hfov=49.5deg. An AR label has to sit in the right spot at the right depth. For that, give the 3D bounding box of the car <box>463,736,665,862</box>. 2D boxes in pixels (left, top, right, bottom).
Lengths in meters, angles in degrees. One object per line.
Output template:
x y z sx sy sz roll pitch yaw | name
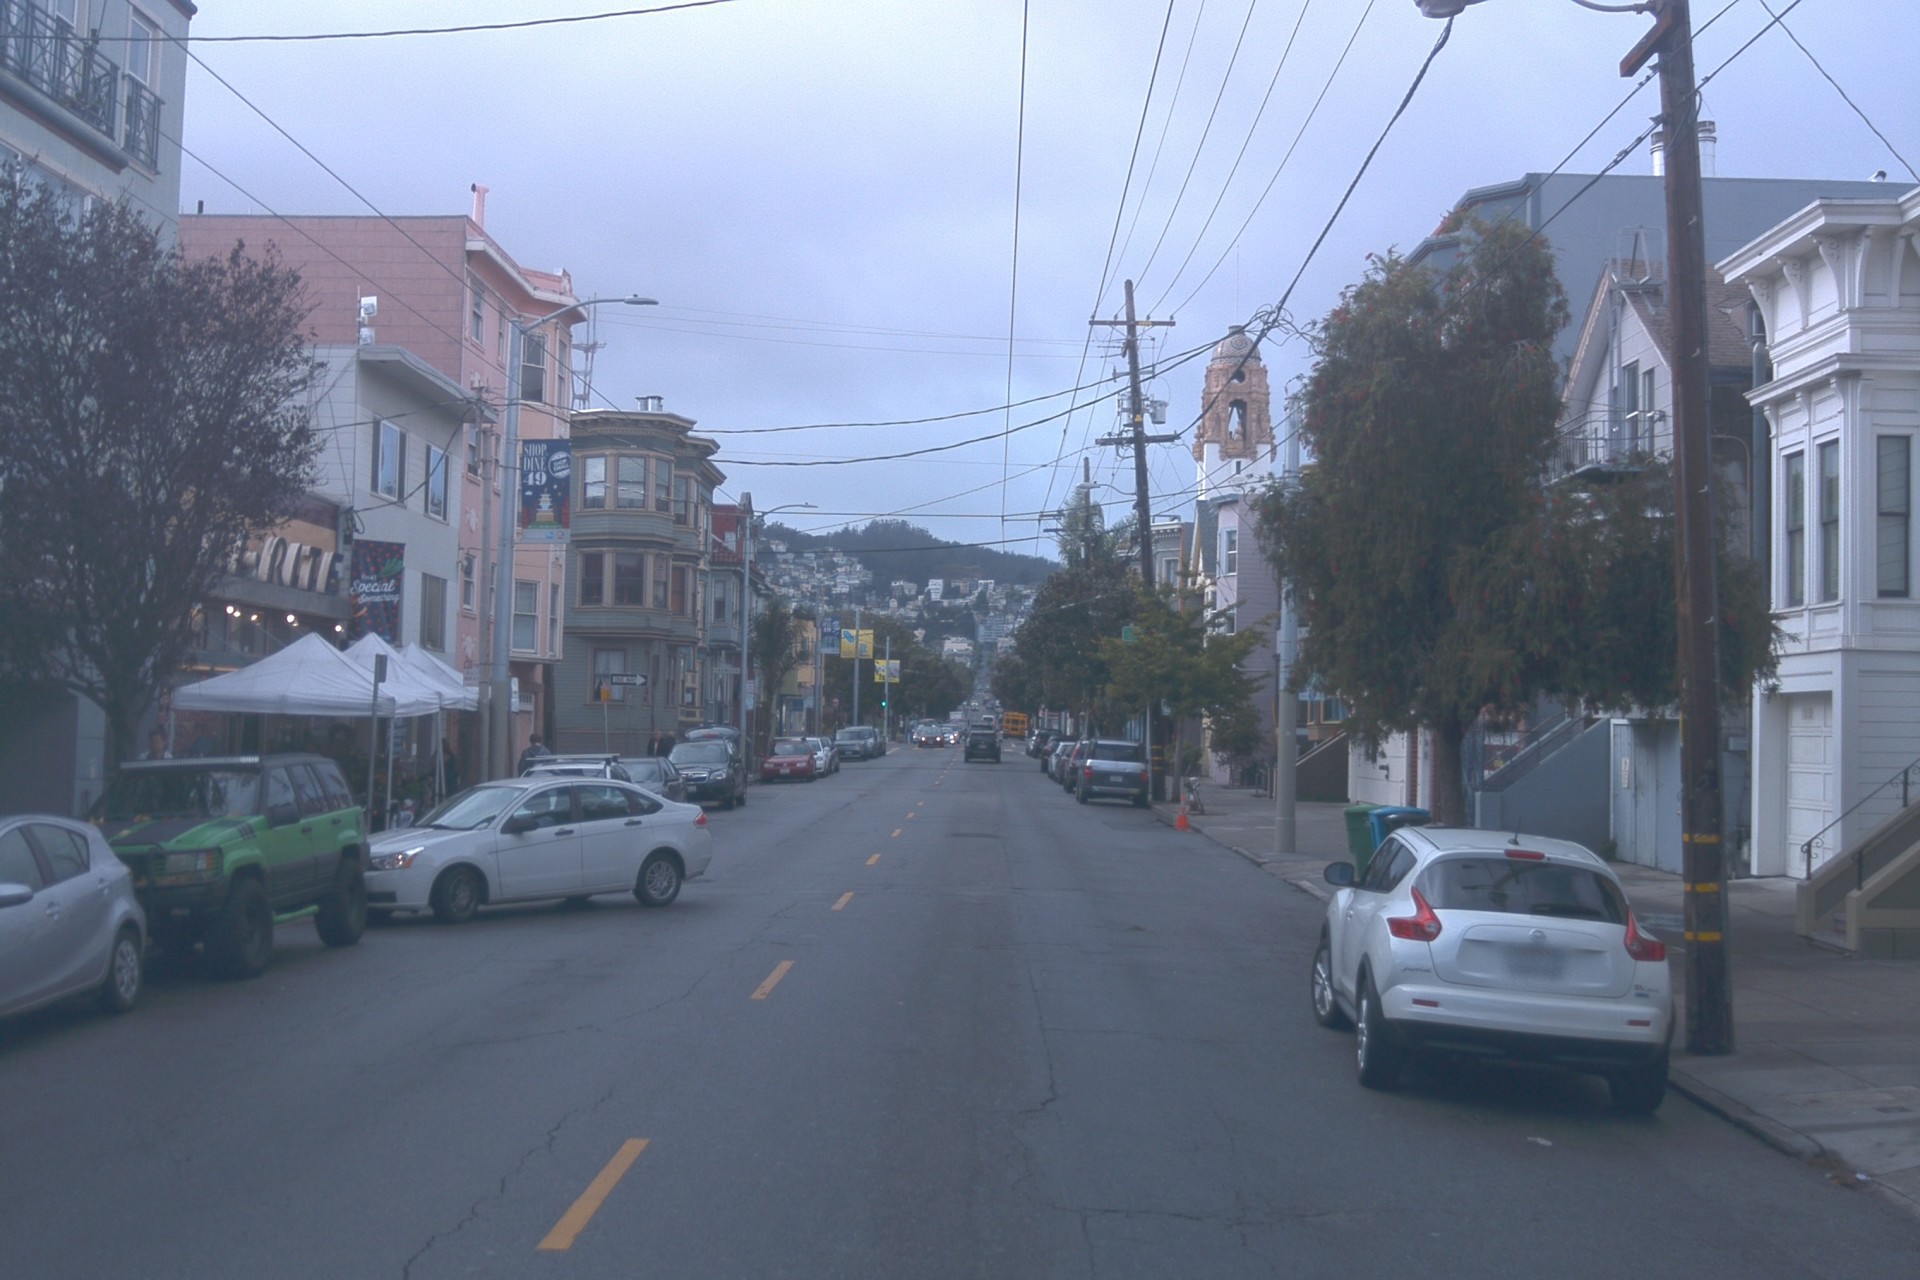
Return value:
-6.069 2.408 32.525 2.138 1.700 4.739 1 -2 1 | car

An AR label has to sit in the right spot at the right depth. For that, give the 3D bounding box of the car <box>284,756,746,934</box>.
-4.730 2.128 22.667 2.015 1.640 4.530 0 -2 43 | car

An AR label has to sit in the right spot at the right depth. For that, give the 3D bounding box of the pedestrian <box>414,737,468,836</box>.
-8.474 2.379 34.033 0.625 1.570 0.614 1 -1 10 | pedestrian

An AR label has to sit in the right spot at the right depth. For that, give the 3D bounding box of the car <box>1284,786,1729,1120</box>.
3.385 1.895 13.762 2.029 1.650 4.143 1 -2 3 | car
